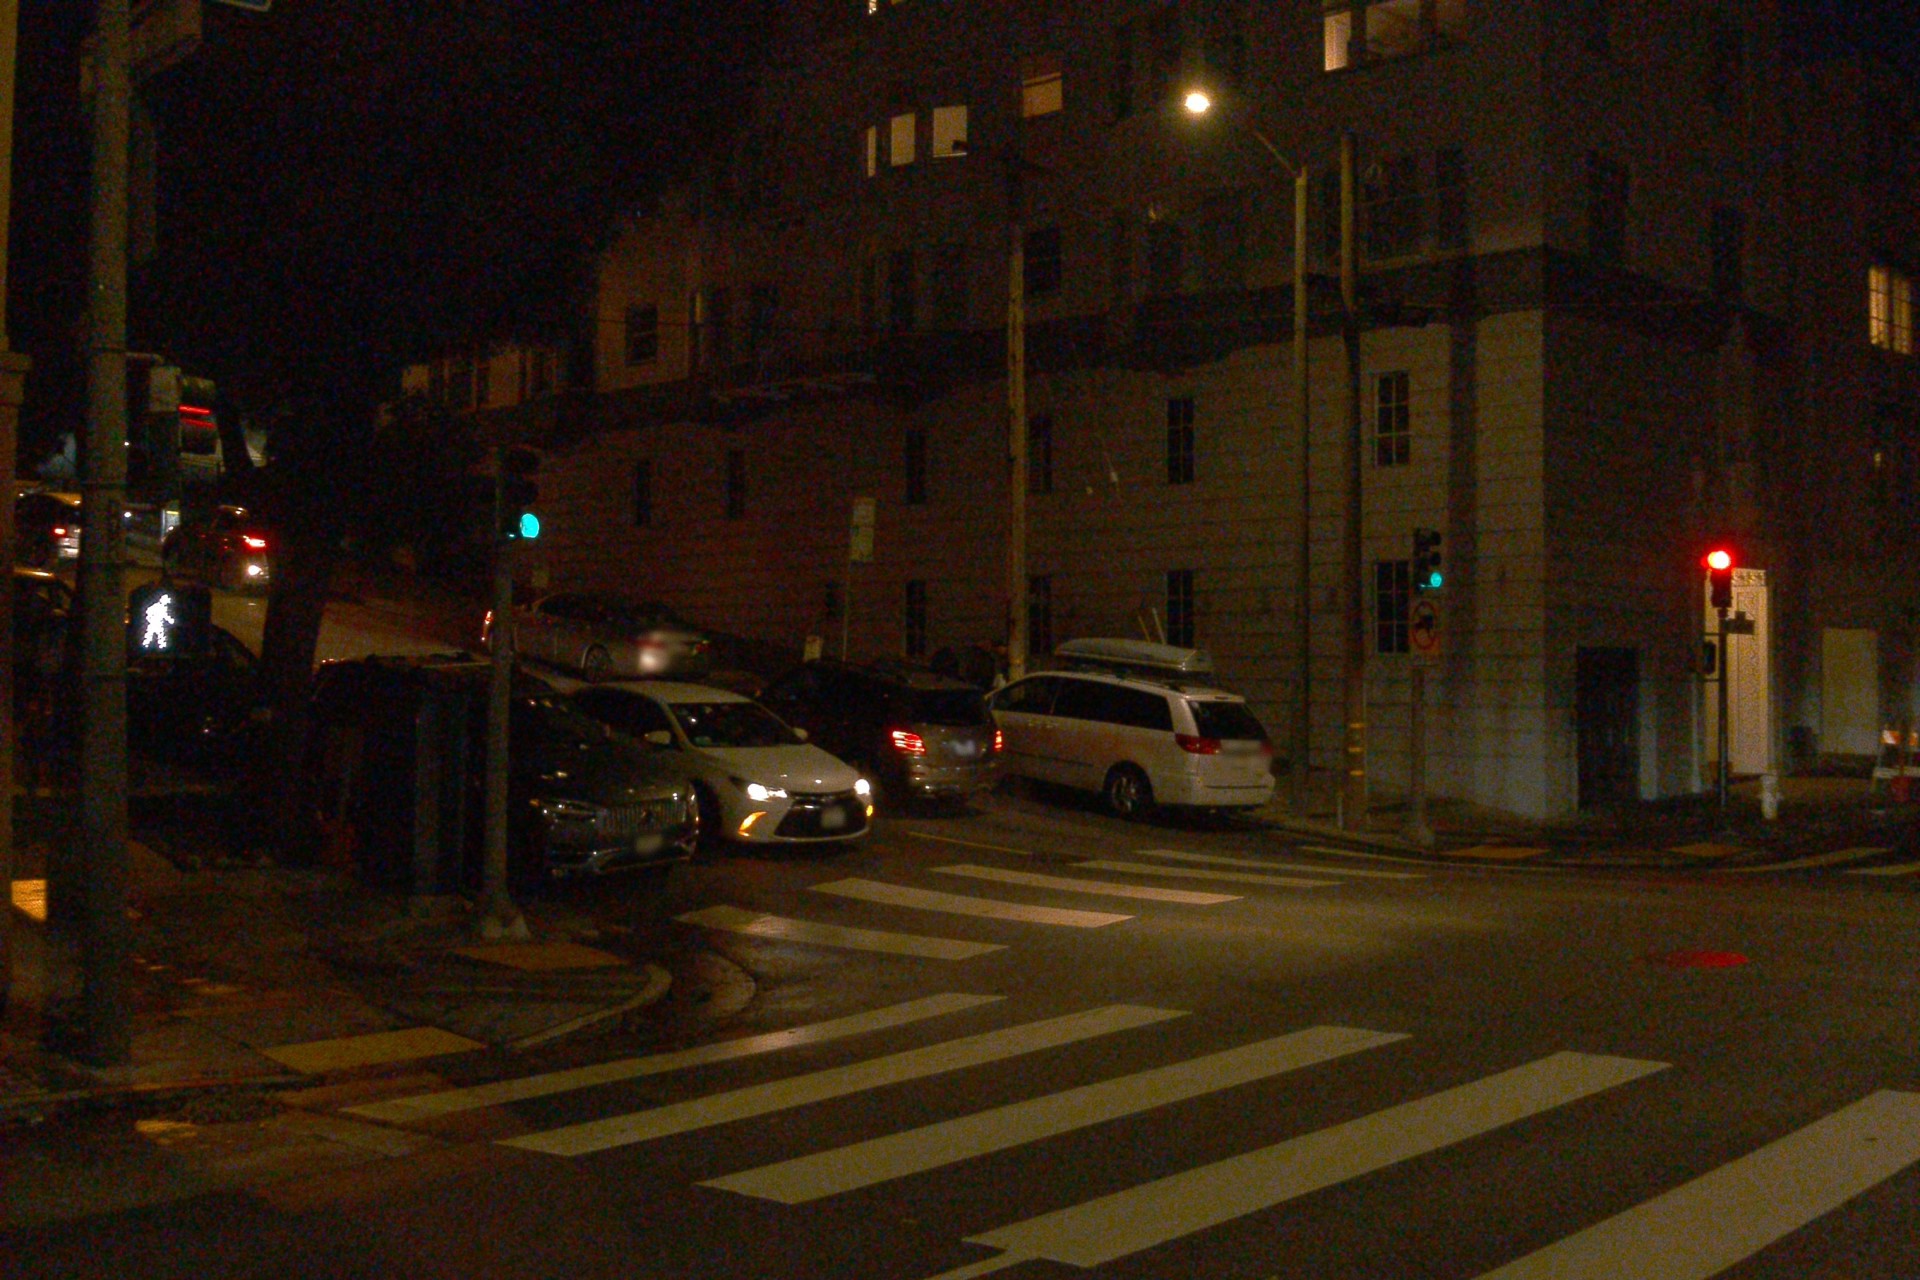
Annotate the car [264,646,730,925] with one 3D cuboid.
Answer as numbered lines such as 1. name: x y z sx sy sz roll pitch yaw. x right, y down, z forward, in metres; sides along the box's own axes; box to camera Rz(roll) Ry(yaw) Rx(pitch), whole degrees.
1. car: -4.590 1.242 19.807 2.195 2.290 4.784 0 1 -44

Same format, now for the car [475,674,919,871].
1. car: -2.939 1.317 22.109 4.872 1.748 2.181 1 1 44

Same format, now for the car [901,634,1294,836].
1. car: 1.733 1.142 27.136 4.904 2.388 2.213 1 1 44

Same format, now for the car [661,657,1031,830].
1. car: -1.507 1.203 25.761 4.561 1.883 2.058 1 1 43

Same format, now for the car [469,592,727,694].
1. car: -6.217 0.023 34.849 4.539 1.626 1.925 1 1 42
